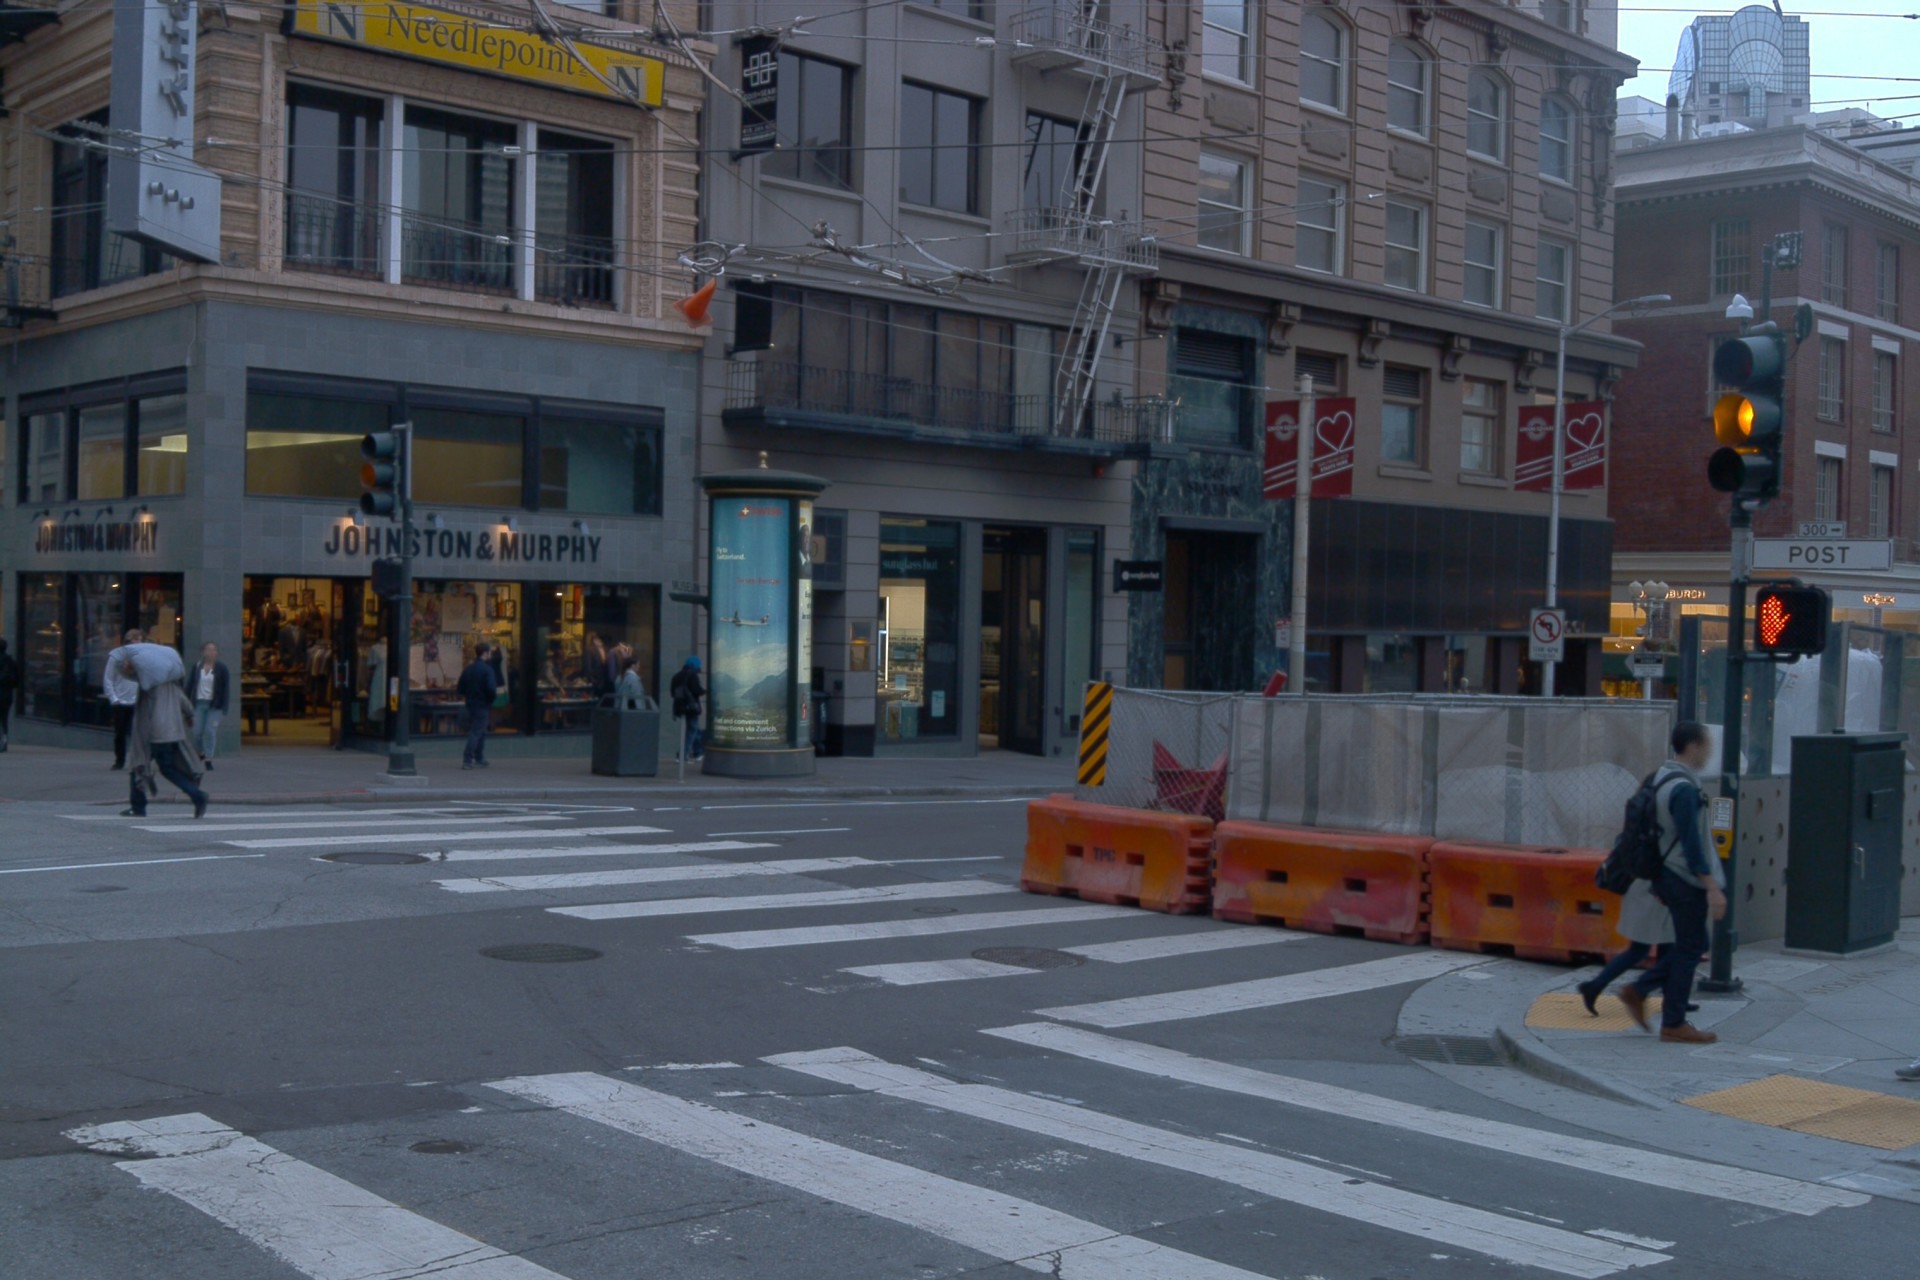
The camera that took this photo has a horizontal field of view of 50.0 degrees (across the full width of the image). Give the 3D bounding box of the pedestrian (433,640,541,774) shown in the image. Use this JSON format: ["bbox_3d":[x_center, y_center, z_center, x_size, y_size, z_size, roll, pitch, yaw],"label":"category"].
[{"bbox_3d":[-6.385,0.881,27.761,1.110,1.760,0.954,0,0,-40],"label":"pedestrian"}]

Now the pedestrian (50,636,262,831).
[{"bbox_3d":[-7.843,0.878,20.165,1.392,1.830,1.609,0,0,4],"label":"pedestrian"}]

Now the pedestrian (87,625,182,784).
[{"bbox_3d":[-9.929,0.755,24.776,1.000,1.860,1.000,0,0,-18],"label":"pedestrian"}]

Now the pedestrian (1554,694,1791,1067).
[{"bbox_3d":[3.982,1.300,11.593,1.114,1.960,1.012,0,0,10],"label":"pedestrian"}]

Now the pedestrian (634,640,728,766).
[{"bbox_3d":[-4.222,0.933,31.101,1.001,1.860,0.999,0,0,42],"label":"pedestrian"}]

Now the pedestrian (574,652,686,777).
[{"bbox_3d":[-4.685,1.029,29.184,1.090,1.710,1.177,0,0,-45],"label":"pedestrian"}]

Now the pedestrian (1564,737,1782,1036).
[{"bbox_3d":[4.251,1.438,12.354,1.114,1.660,0.918,0,0,11],"label":"pedestrian"}]

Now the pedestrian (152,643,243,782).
[{"bbox_3d":[-9.283,0.856,25.089,1.001,1.640,1.210,0,0,-19],"label":"pedestrian"}]
